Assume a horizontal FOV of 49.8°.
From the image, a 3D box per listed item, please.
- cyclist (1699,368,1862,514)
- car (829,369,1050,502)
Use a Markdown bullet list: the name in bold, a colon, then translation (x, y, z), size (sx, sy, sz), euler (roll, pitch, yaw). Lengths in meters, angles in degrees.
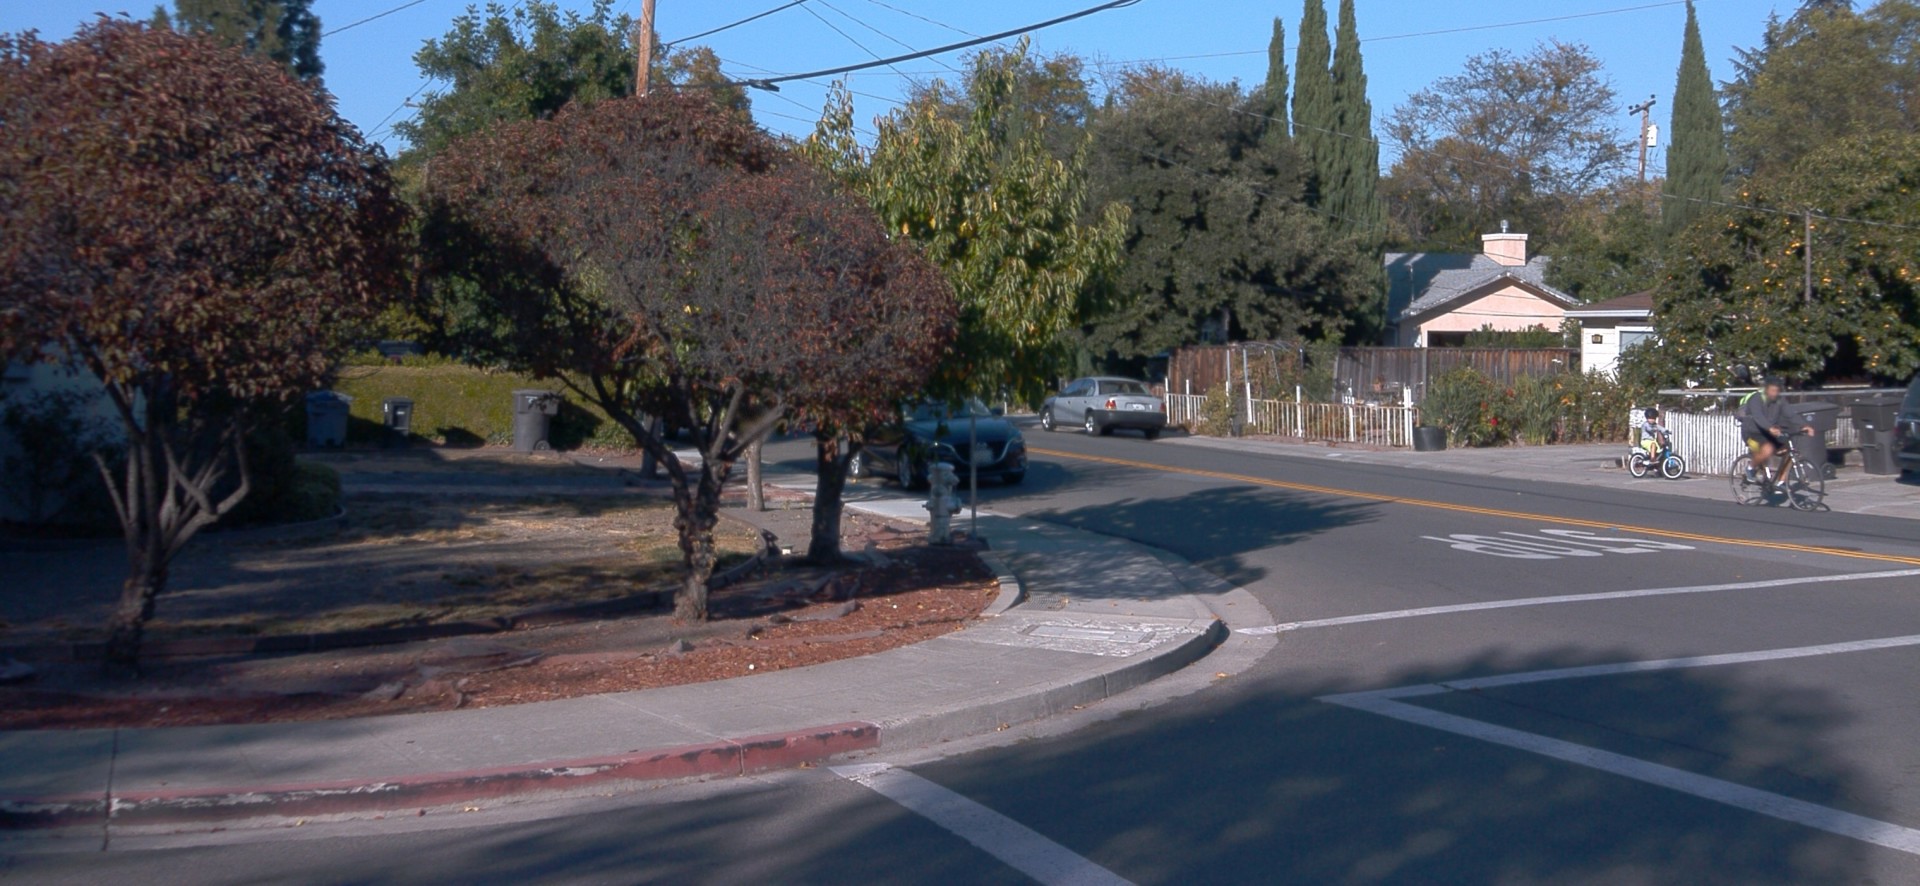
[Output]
- **cyclist**: translation (10.523, -0.065, 26.595), size (0.824, 1.664, 1.959), euler (0, 4, -21)
- **car**: translation (-0.412, -0.194, 31.681), size (2.032, 1.554, 4.626), euler (-1, 5, -19)
